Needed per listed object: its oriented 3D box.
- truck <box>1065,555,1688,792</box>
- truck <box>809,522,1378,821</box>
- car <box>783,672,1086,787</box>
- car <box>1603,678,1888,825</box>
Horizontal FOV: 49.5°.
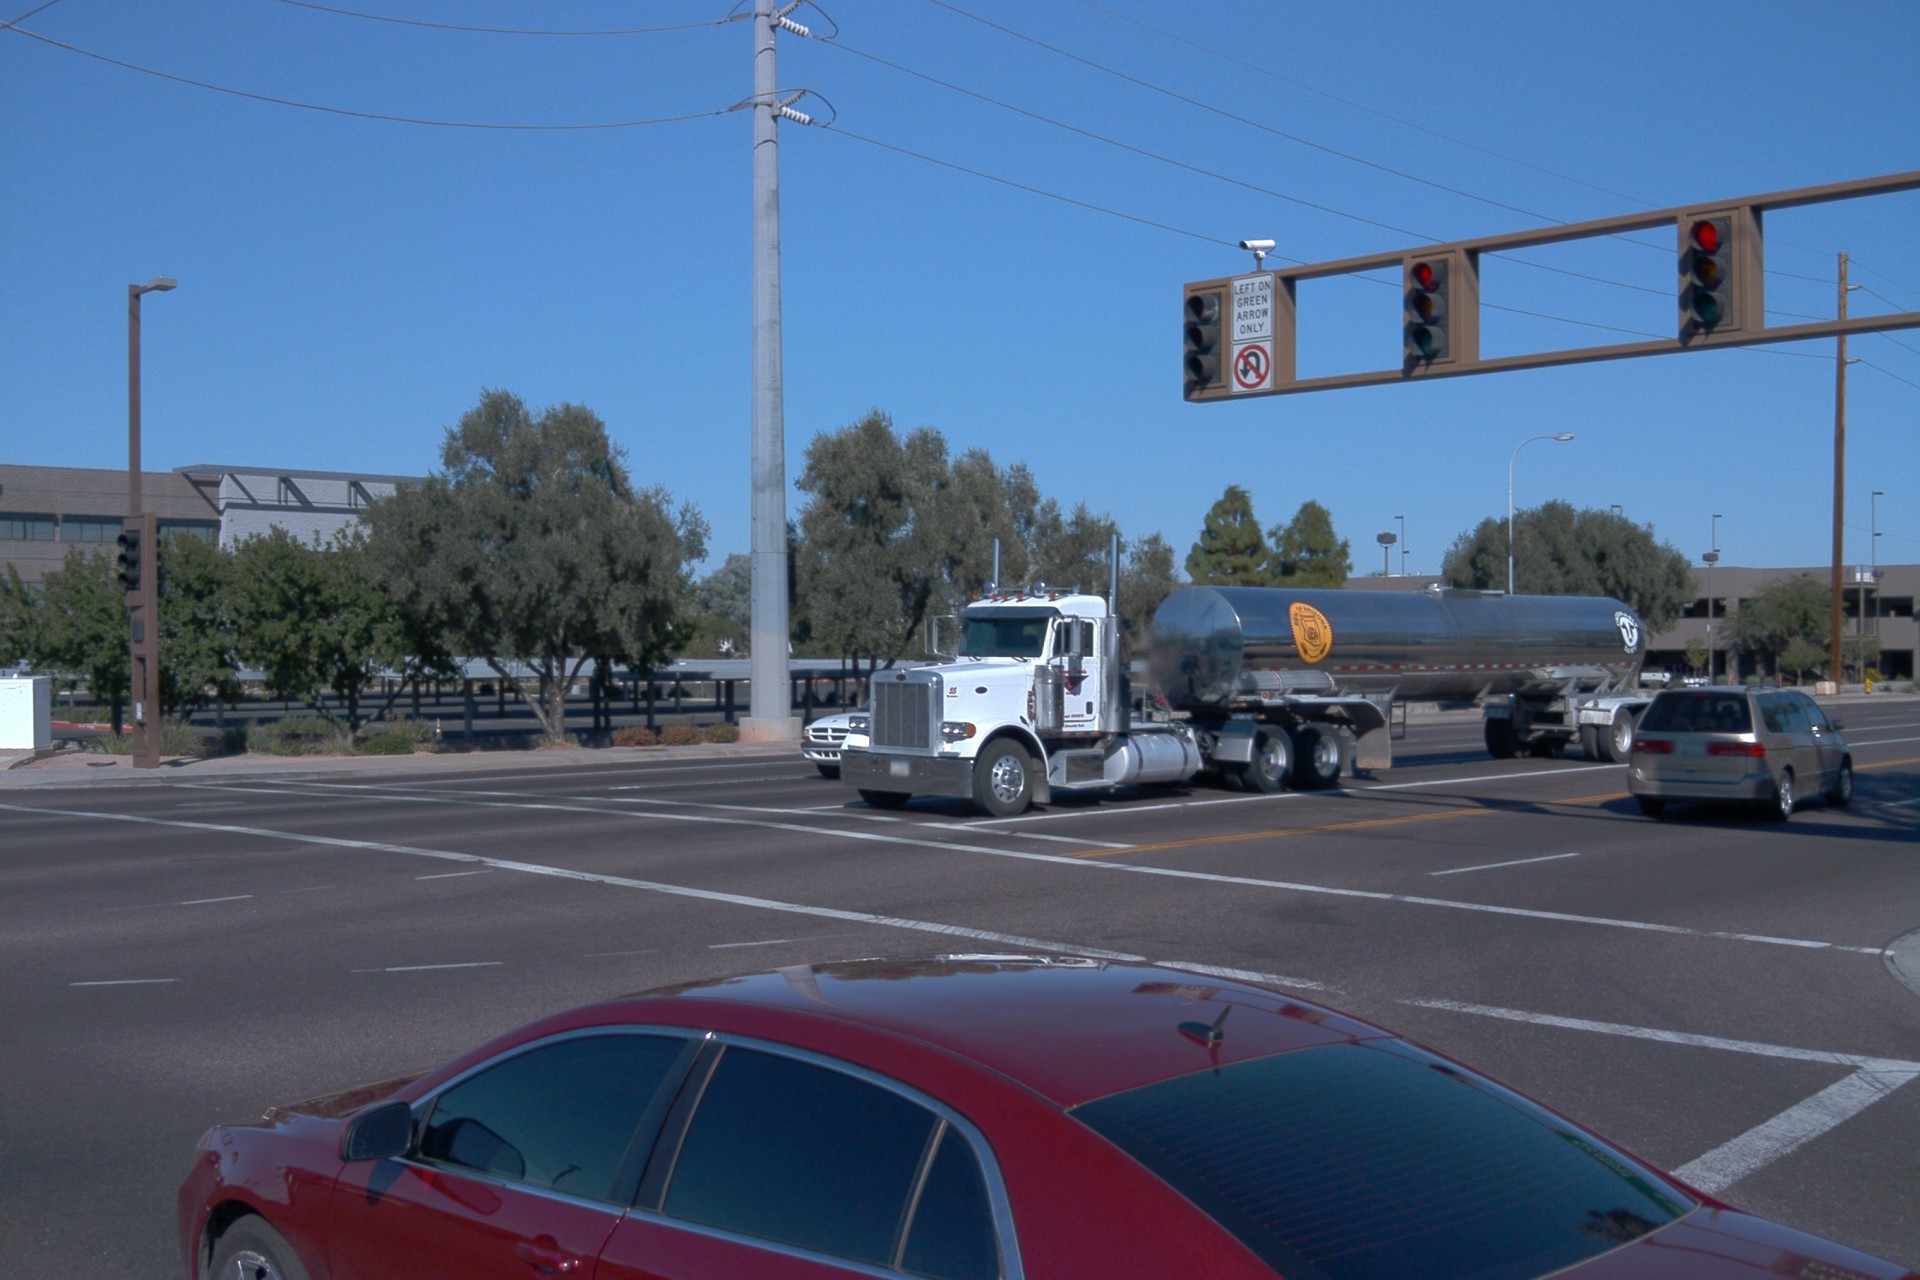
[{"bbox_3d":[7.612,0.566,35.394,3.541,3.330,13.563,0,-1,44],"label":"truck"},{"bbox_3d":[2.157,0.442,29.322,3.179,3.610,8.600,0,-1,44],"label":"truck"},{"bbox_3d":[-0.366,1.489,36.311,2.048,1.860,5.382,0,-1,45],"label":"car"},{"bbox_3d":[10.846,1.433,28.554,2.242,1.810,4.899,0,-1,39],"label":"car"}]
